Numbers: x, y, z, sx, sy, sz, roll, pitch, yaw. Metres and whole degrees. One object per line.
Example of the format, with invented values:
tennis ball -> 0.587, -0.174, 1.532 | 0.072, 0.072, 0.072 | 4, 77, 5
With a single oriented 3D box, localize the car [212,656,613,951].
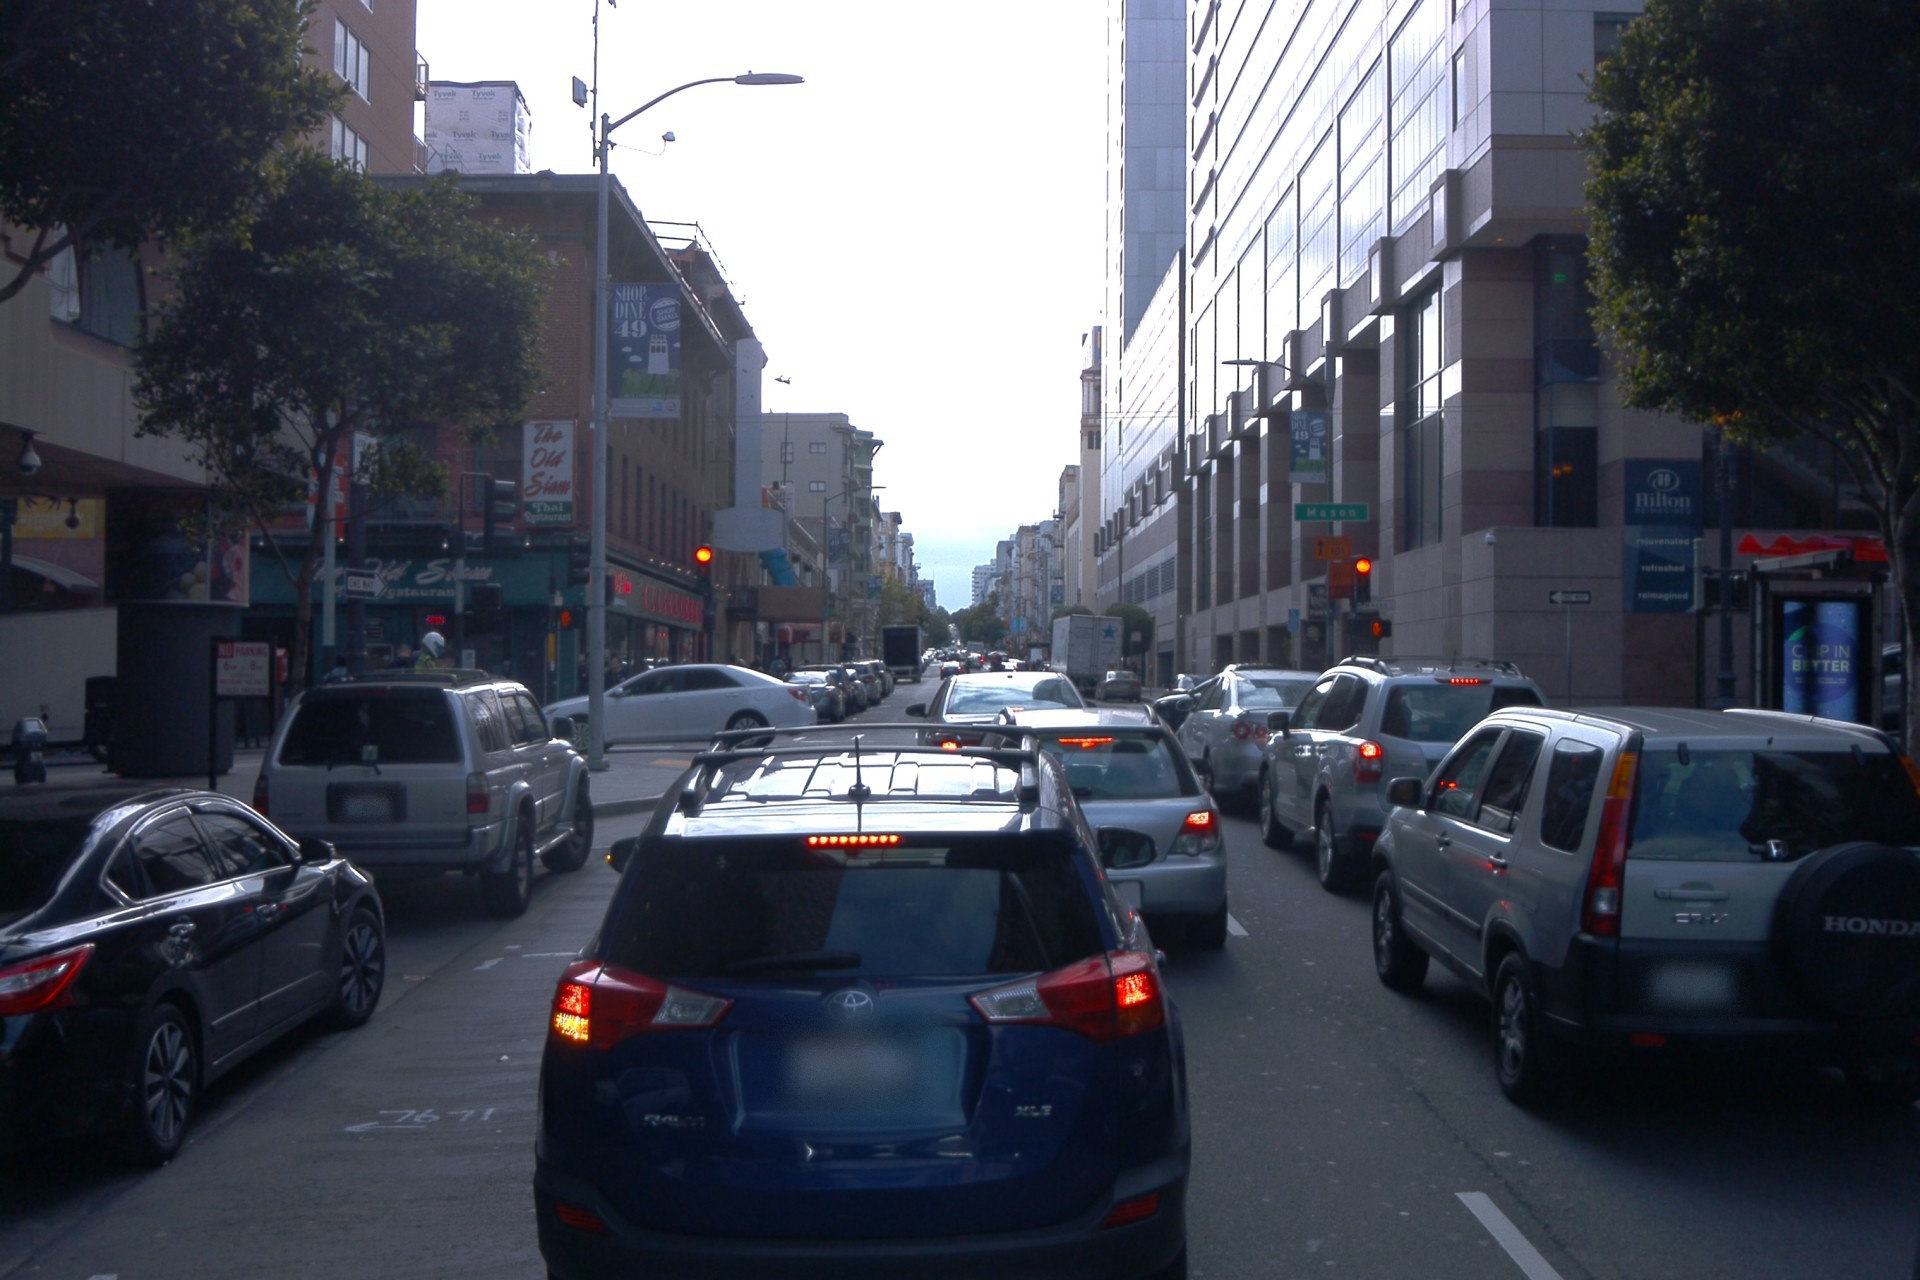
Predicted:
car -> -4.074, 1.114, 16.161 | 1.995, 1.880, 4.690 | 0, 1, -1

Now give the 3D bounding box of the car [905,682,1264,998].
car -> 0.755, 1.182, 13.994 | 2.030, 1.630, 4.708 | 0, 1, 1

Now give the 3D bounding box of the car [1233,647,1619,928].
car -> 3.552, 1.035, 16.633 | 2.029, 1.870, 4.665 | 0, 1, 0

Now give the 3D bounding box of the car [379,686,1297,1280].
car -> -0.294, 1.160, 7.187 | 2.184, 1.830, 4.555 | 0, 1, 0

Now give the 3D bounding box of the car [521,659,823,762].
car -> -4.774, 1.161, 34.566 | 4.779, 1.620, 1.945 | 0, 1, 1

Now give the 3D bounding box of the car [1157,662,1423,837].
car -> 3.433, 1.089, 22.361 | 2.063, 1.590, 4.797 | 0, 1, -1

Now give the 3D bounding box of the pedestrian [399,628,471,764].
pedestrian -> -7.422, 0.777, 29.063 | 0.708, 1.880, 0.658 | 0, 1, 29

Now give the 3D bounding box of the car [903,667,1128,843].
car -> 0.458, 1.092, 21.251 | 2.074, 1.500, 4.589 | 0, 1, -1

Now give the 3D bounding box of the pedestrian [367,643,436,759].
pedestrian -> -8.186, 0.883, 30.169 | 0.779, 1.650, 0.864 | 0, 1, -1
